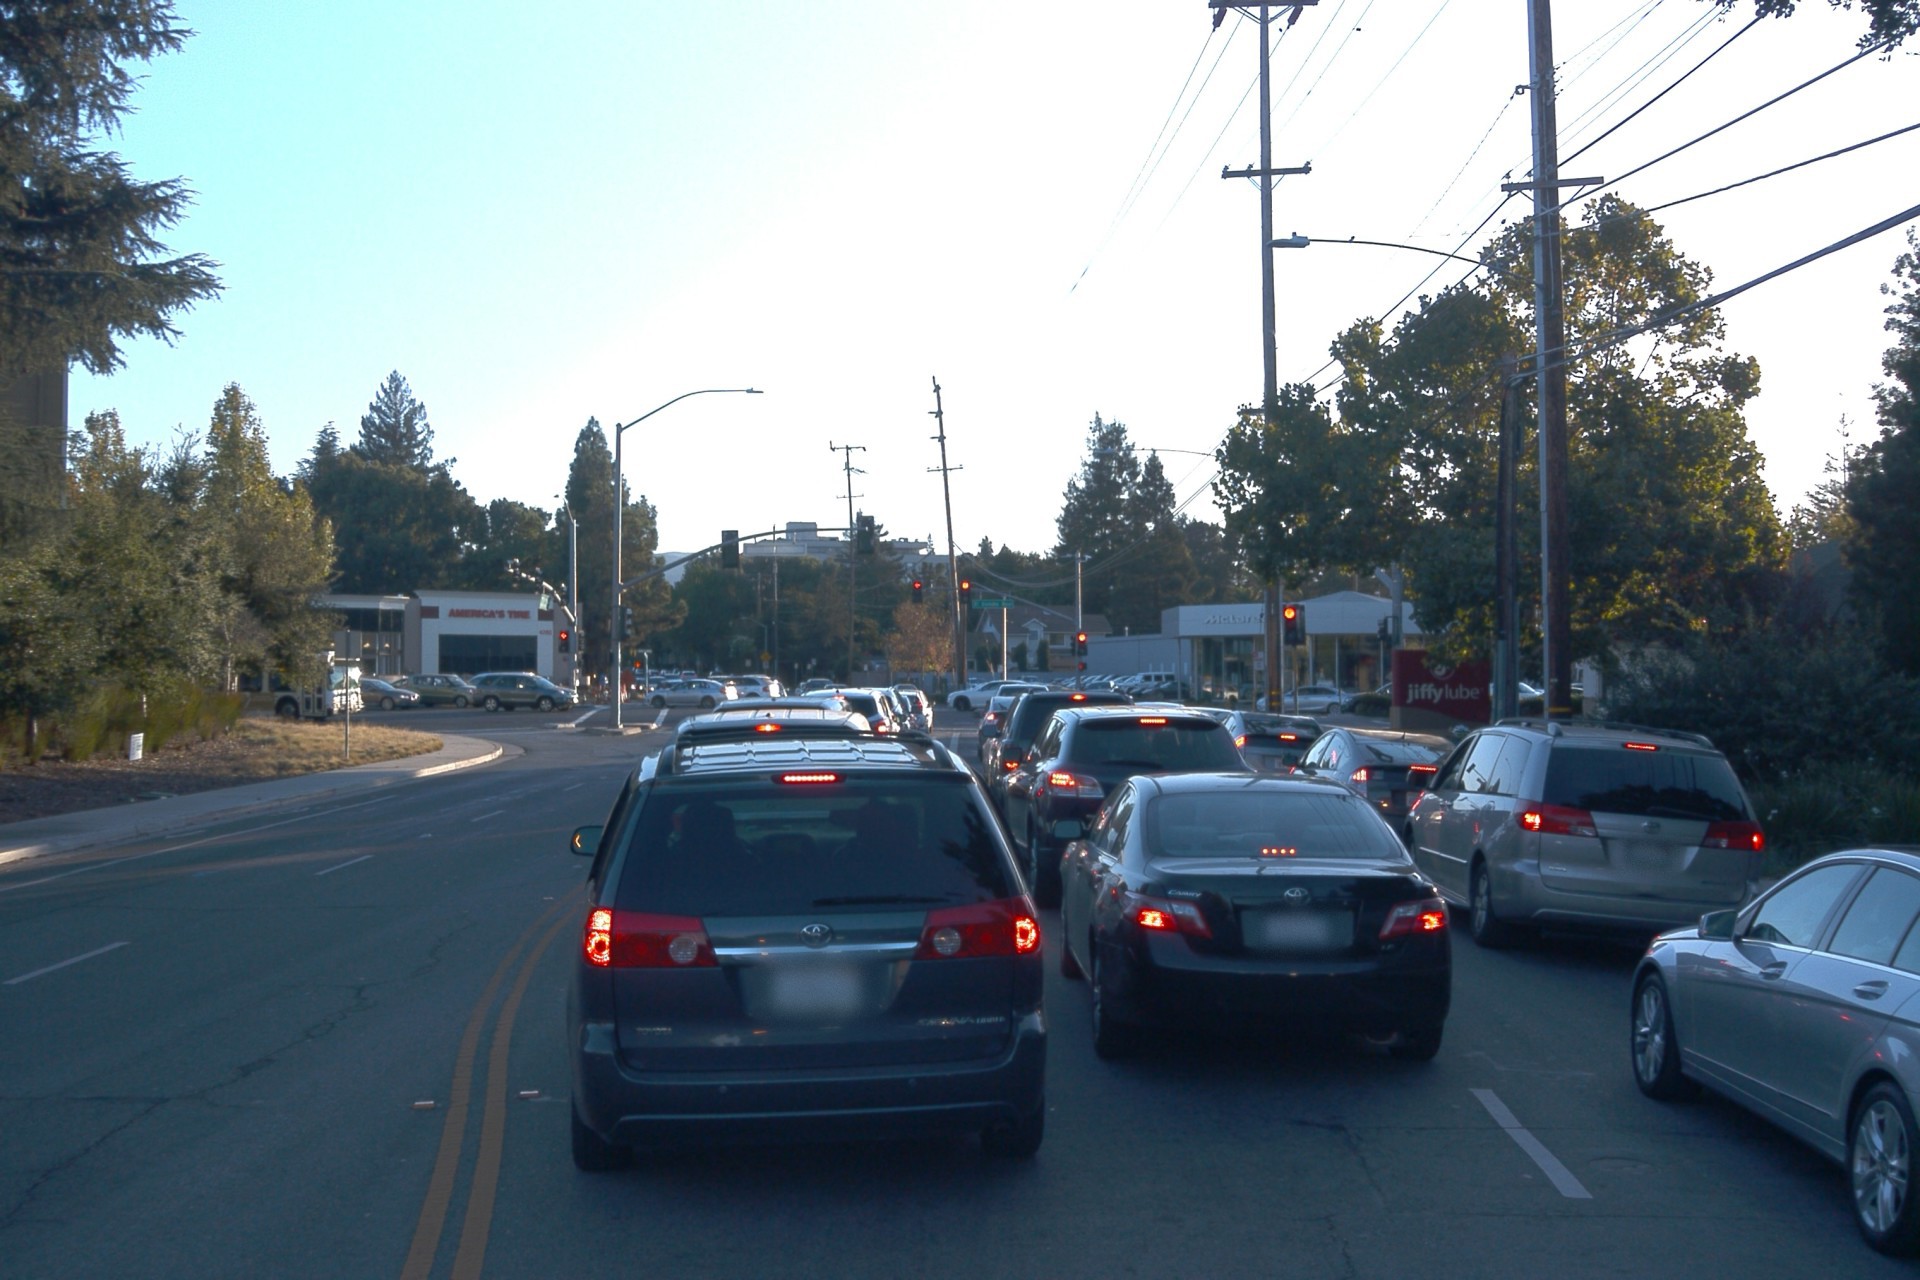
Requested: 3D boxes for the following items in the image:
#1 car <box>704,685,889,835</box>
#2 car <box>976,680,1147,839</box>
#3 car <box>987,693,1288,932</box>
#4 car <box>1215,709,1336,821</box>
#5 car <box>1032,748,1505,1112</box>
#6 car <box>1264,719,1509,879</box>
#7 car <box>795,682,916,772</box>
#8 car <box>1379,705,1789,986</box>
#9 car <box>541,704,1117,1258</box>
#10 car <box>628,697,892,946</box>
[{"bbox_3d":[-1.862,1.357,24.686,1.760,1.570,3.956,0,0,2],"label":"car"},{"bbox_3d":[1.186,1.417,25.823,1.759,1.770,3.957,0,0,-3],"label":"car"},{"bbox_3d":[1.458,1.434,18.846,1.992,1.810,4.553,0,0,-5],"label":"car"},{"bbox_3d":[4.670,1.823,30.934,1.418,1.490,3.138,0,0,2],"label":"car"},{"bbox_3d":[1.529,1.478,11.982,1.915,1.490,4.528,0,0,-2],"label":"car"},{"bbox_3d":[4.676,1.710,23.272,1.785,1.510,4.026,0,0,-2],"label":"car"},{"bbox_3d":[-1.660,1.380,33.817,1.709,1.350,3.337,0,0,2],"label":"car"},{"bbox_3d":[4.903,1.524,17.100,2.061,1.850,4.903,0,0,2],"label":"car"},{"bbox_3d":[-0.875,1.305,10.241,2.102,1.830,5.461,0,0,-9],"label":"car"},{"bbox_3d":[-1.451,1.307,16.305,1.812,1.620,4.042,0,0,-2],"label":"car"}]
